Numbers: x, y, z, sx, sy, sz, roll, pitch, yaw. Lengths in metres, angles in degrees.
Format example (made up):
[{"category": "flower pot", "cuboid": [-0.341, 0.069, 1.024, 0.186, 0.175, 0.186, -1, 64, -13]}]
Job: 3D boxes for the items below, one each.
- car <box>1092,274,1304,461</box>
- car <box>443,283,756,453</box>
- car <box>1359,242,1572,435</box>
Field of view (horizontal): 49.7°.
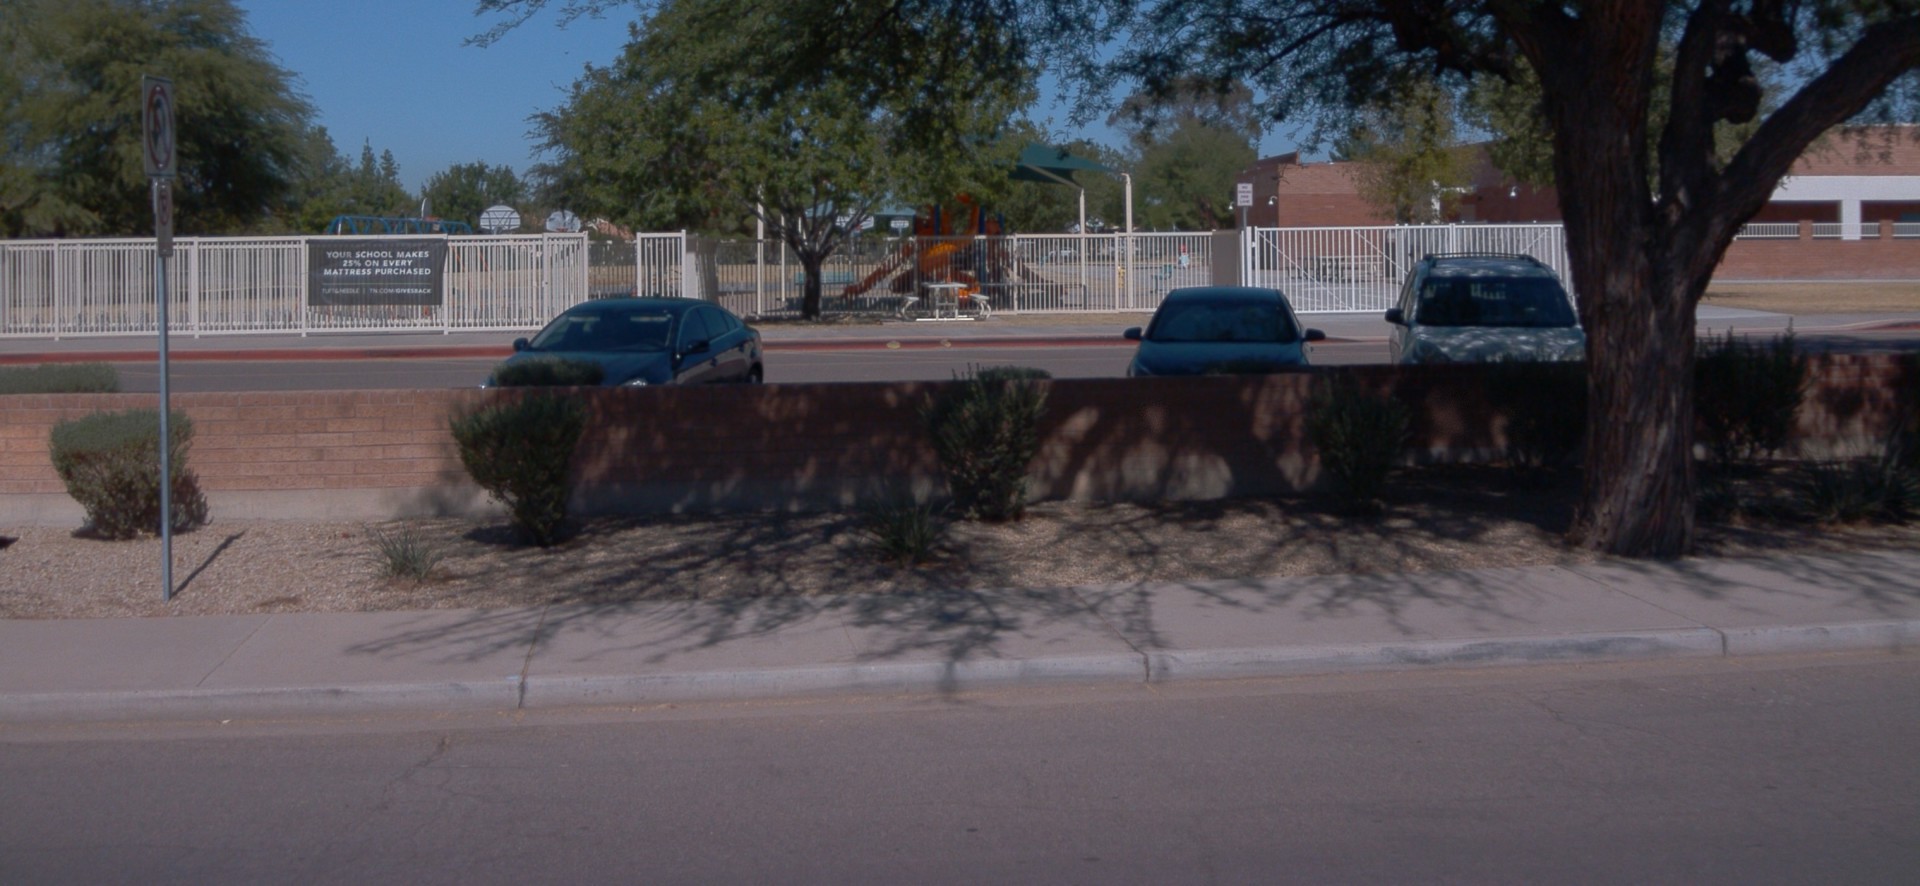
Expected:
[{"category": "car", "cuboid": [2.621, -0.933, 22.595, 2.050, 1.693, 4.811, 1, 5, 7]}, {"category": "car", "cuboid": [-3.605, -0.873, 21.642, 2.007, 1.454, 4.387, 1, 5, 7]}, {"category": "car", "cuboid": [5.589, -1.300, 23.463, 2.102, 1.892, 4.796, 1, 5, 11]}]
